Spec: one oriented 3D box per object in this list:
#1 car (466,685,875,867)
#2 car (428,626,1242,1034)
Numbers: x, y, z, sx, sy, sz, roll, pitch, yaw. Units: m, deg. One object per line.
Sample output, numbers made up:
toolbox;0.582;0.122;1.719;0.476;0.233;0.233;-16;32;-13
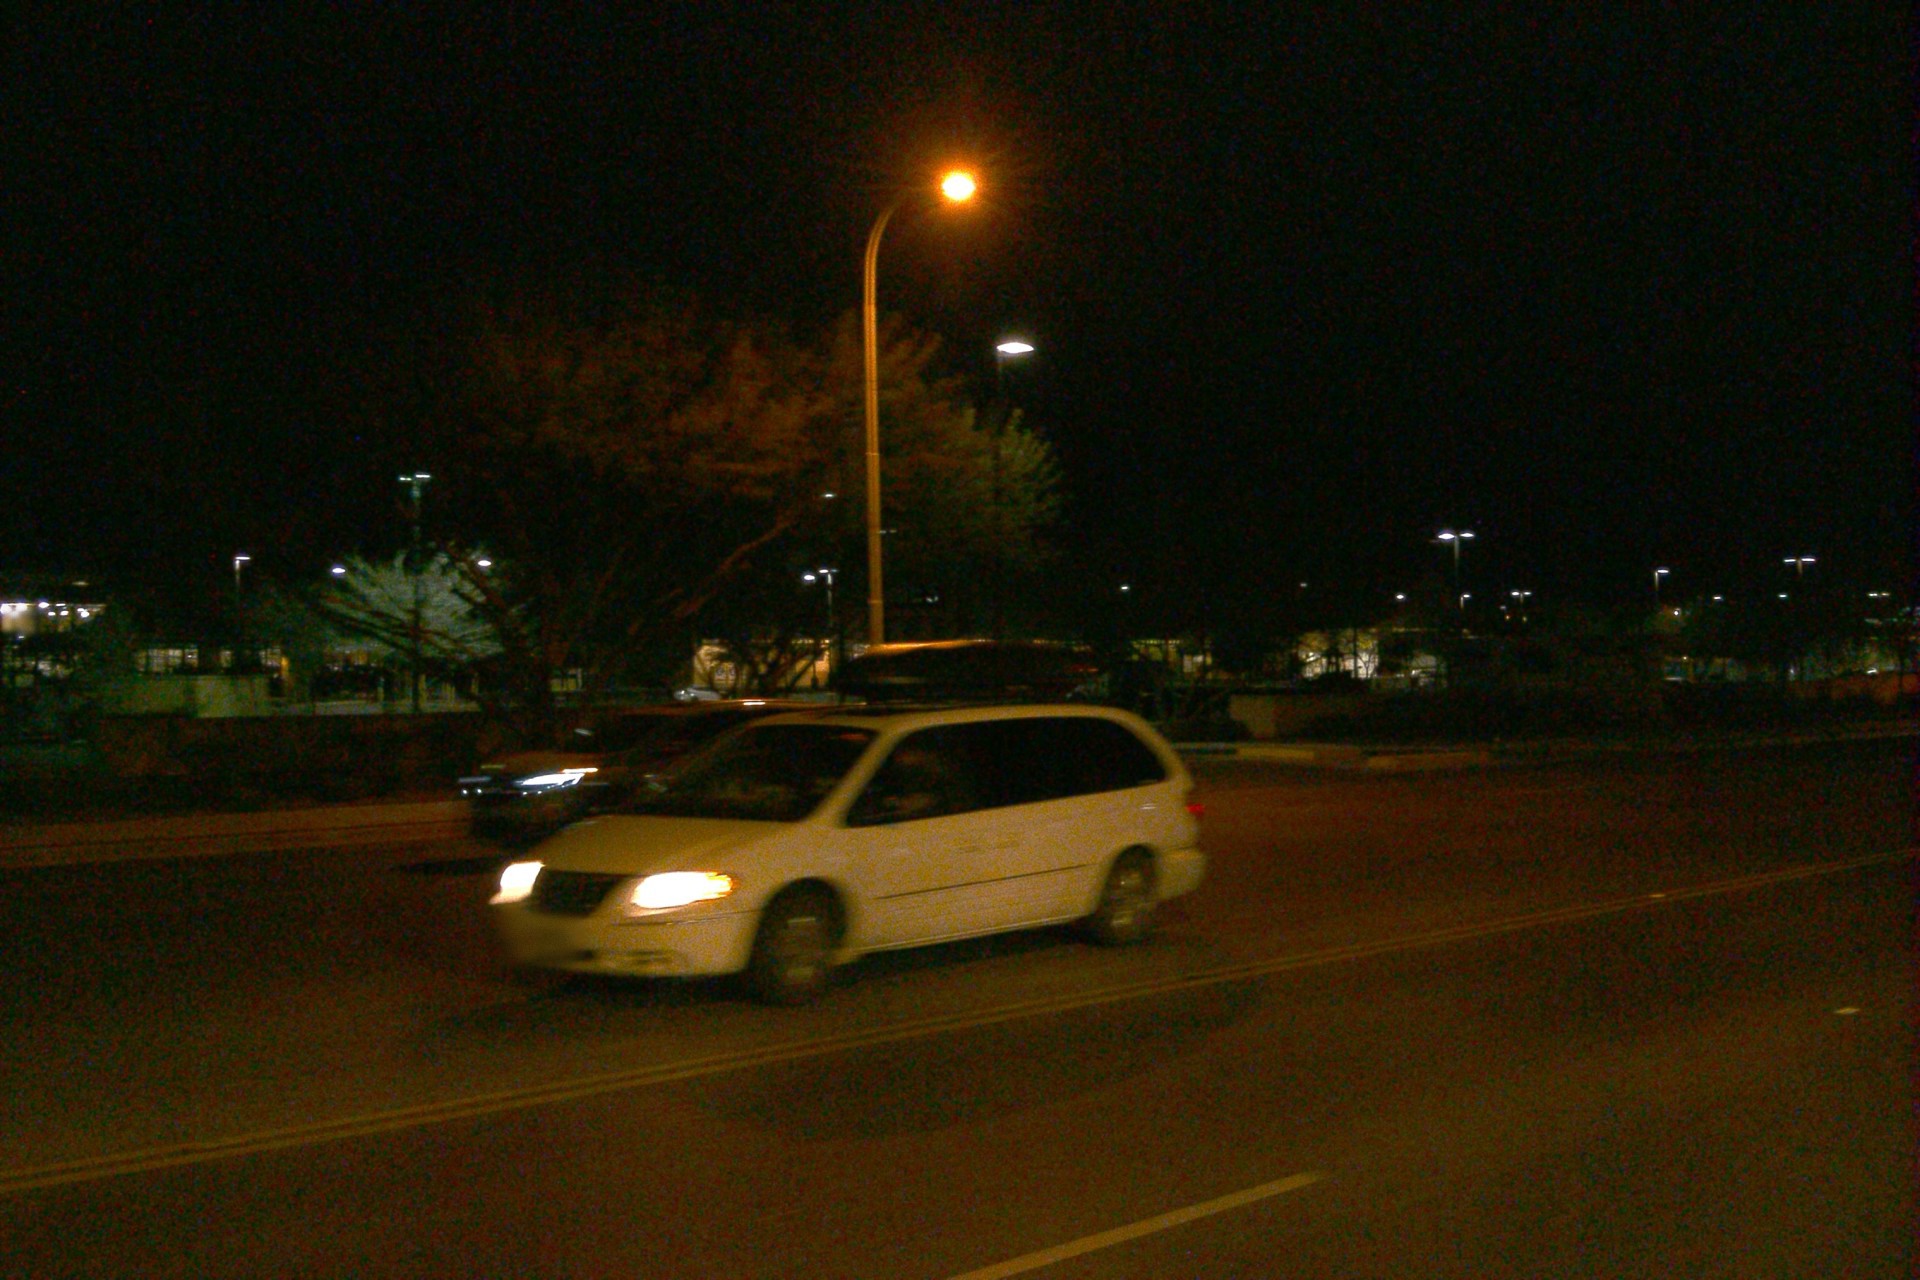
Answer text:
car;-3.185;1.438;23.402;4.213;1.780;1.964;1;0;-45
car;-0.581;1.015;13.655;2.297;2.130;5.247;1;0;41
